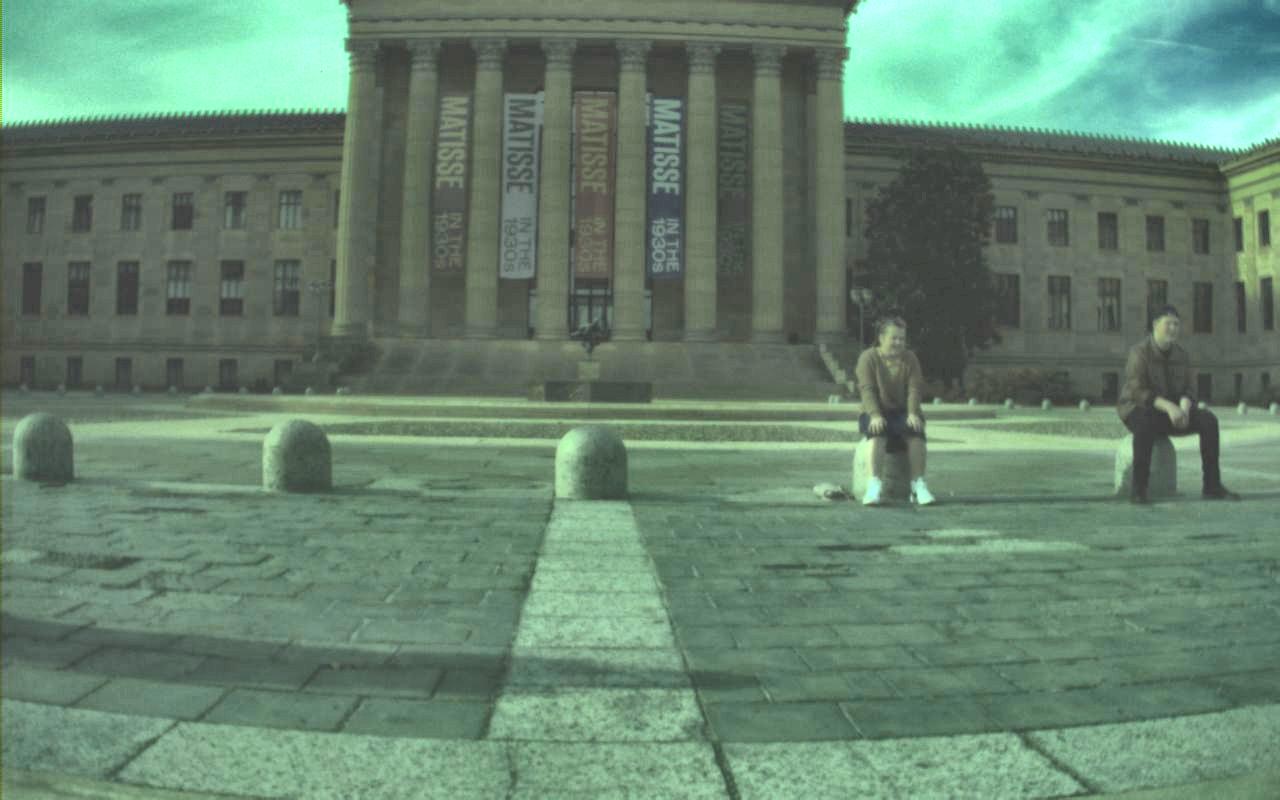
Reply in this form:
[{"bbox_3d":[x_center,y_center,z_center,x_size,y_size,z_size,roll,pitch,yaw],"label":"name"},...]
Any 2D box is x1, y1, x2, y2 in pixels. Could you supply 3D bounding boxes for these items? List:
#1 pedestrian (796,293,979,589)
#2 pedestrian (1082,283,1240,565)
[{"bbox_3d":[1.576,0.238,7.918,0.824,1.764,0.827,0,0,-29],"label":"pedestrian"},{"bbox_3d":[3.501,0.162,7.889,0.840,1.791,0.850,0,0,1],"label":"pedestrian"}]
